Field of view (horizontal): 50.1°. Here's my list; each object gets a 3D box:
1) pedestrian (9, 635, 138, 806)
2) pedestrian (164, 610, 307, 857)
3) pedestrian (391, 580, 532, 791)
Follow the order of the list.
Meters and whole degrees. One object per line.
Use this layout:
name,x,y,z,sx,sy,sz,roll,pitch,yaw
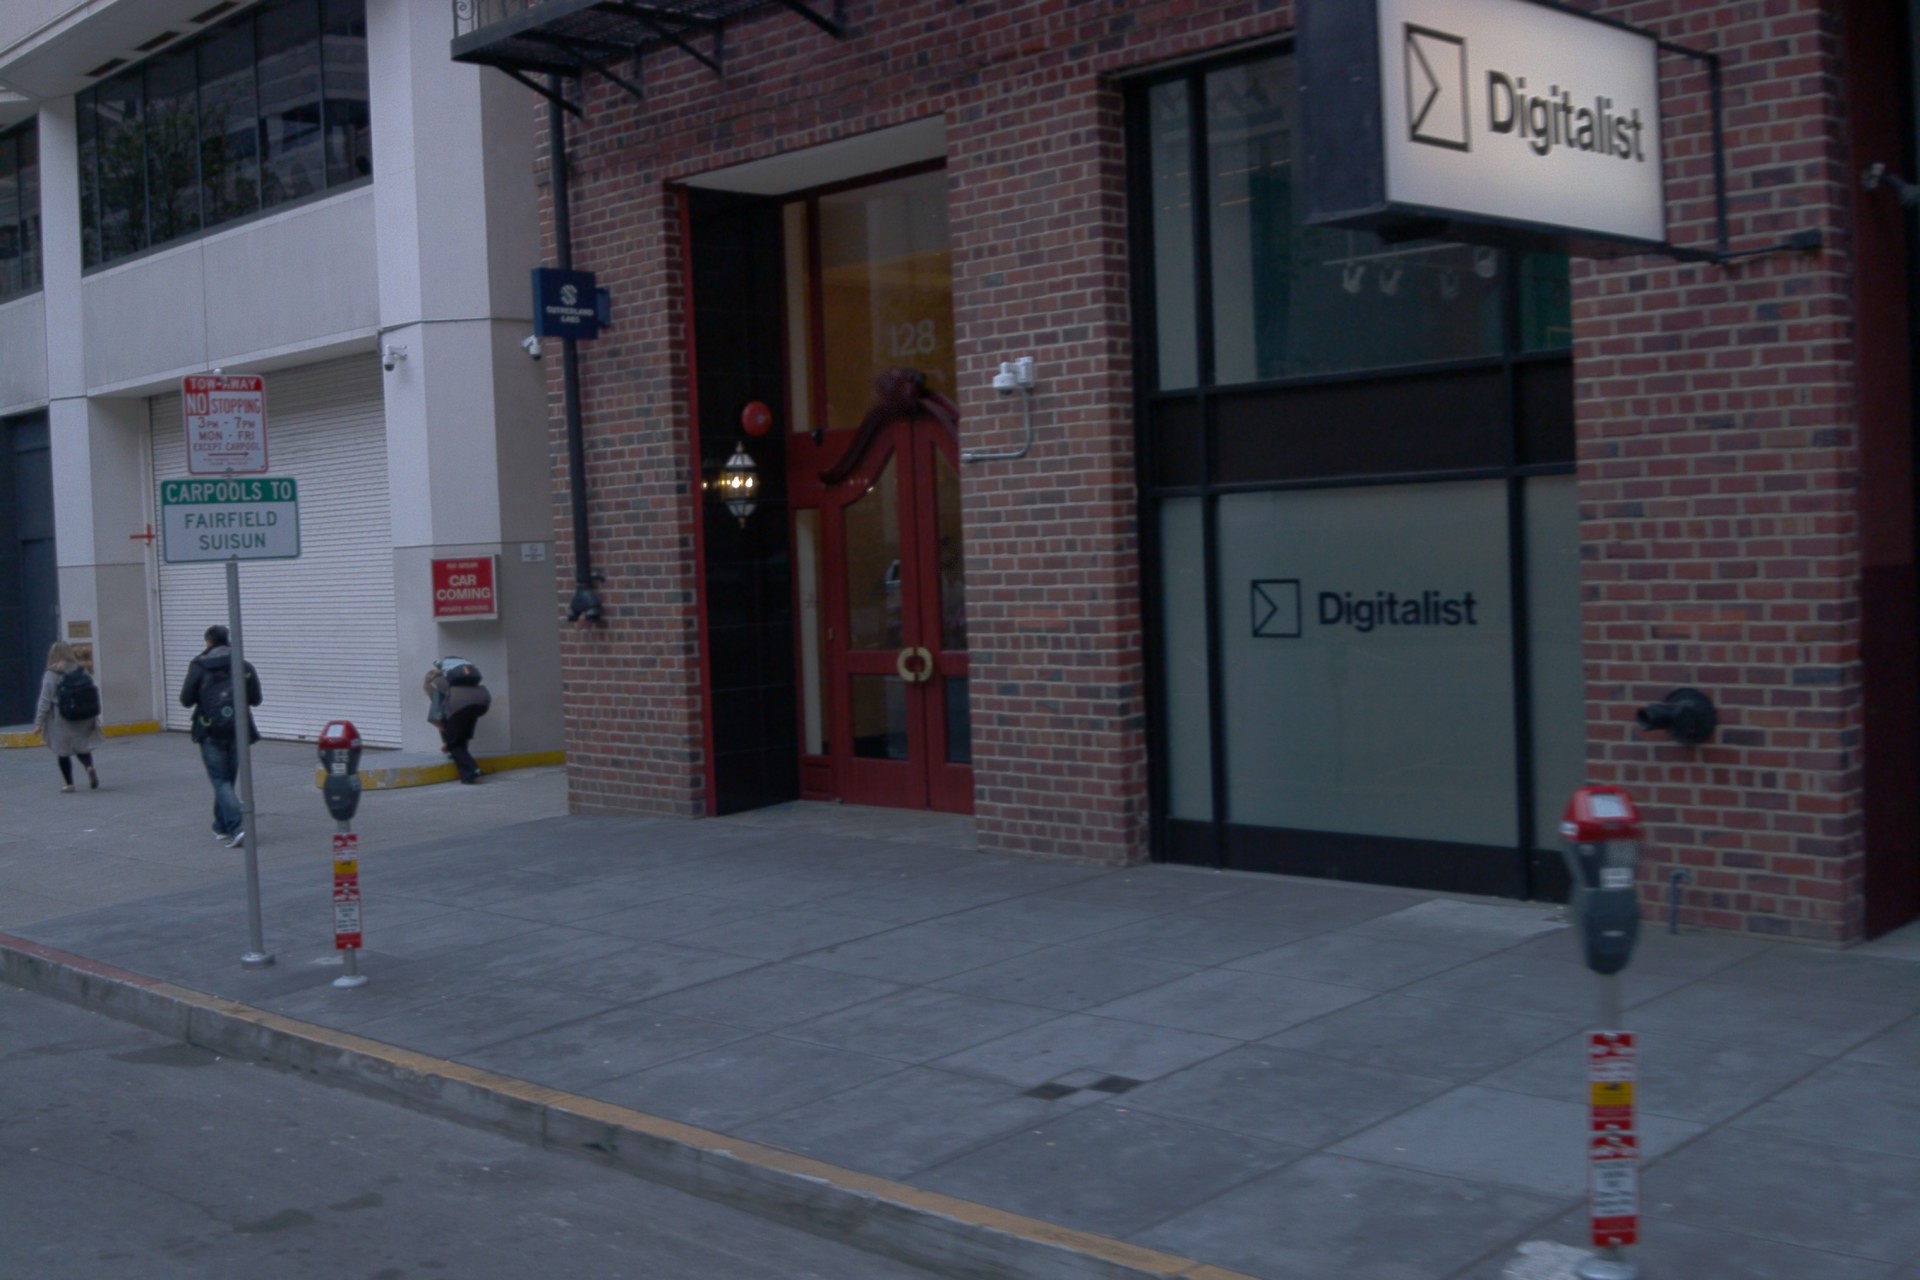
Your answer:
pedestrian,-8.650,0.758,20.060,0.882,1.600,0.985,0,0,-42
pedestrian,-5.579,0.685,15.819,0.736,1.830,0.968,0,0,-40
pedestrian,-4.523,0.391,18.651,0.927,1.850,0.887,0,0,-42
